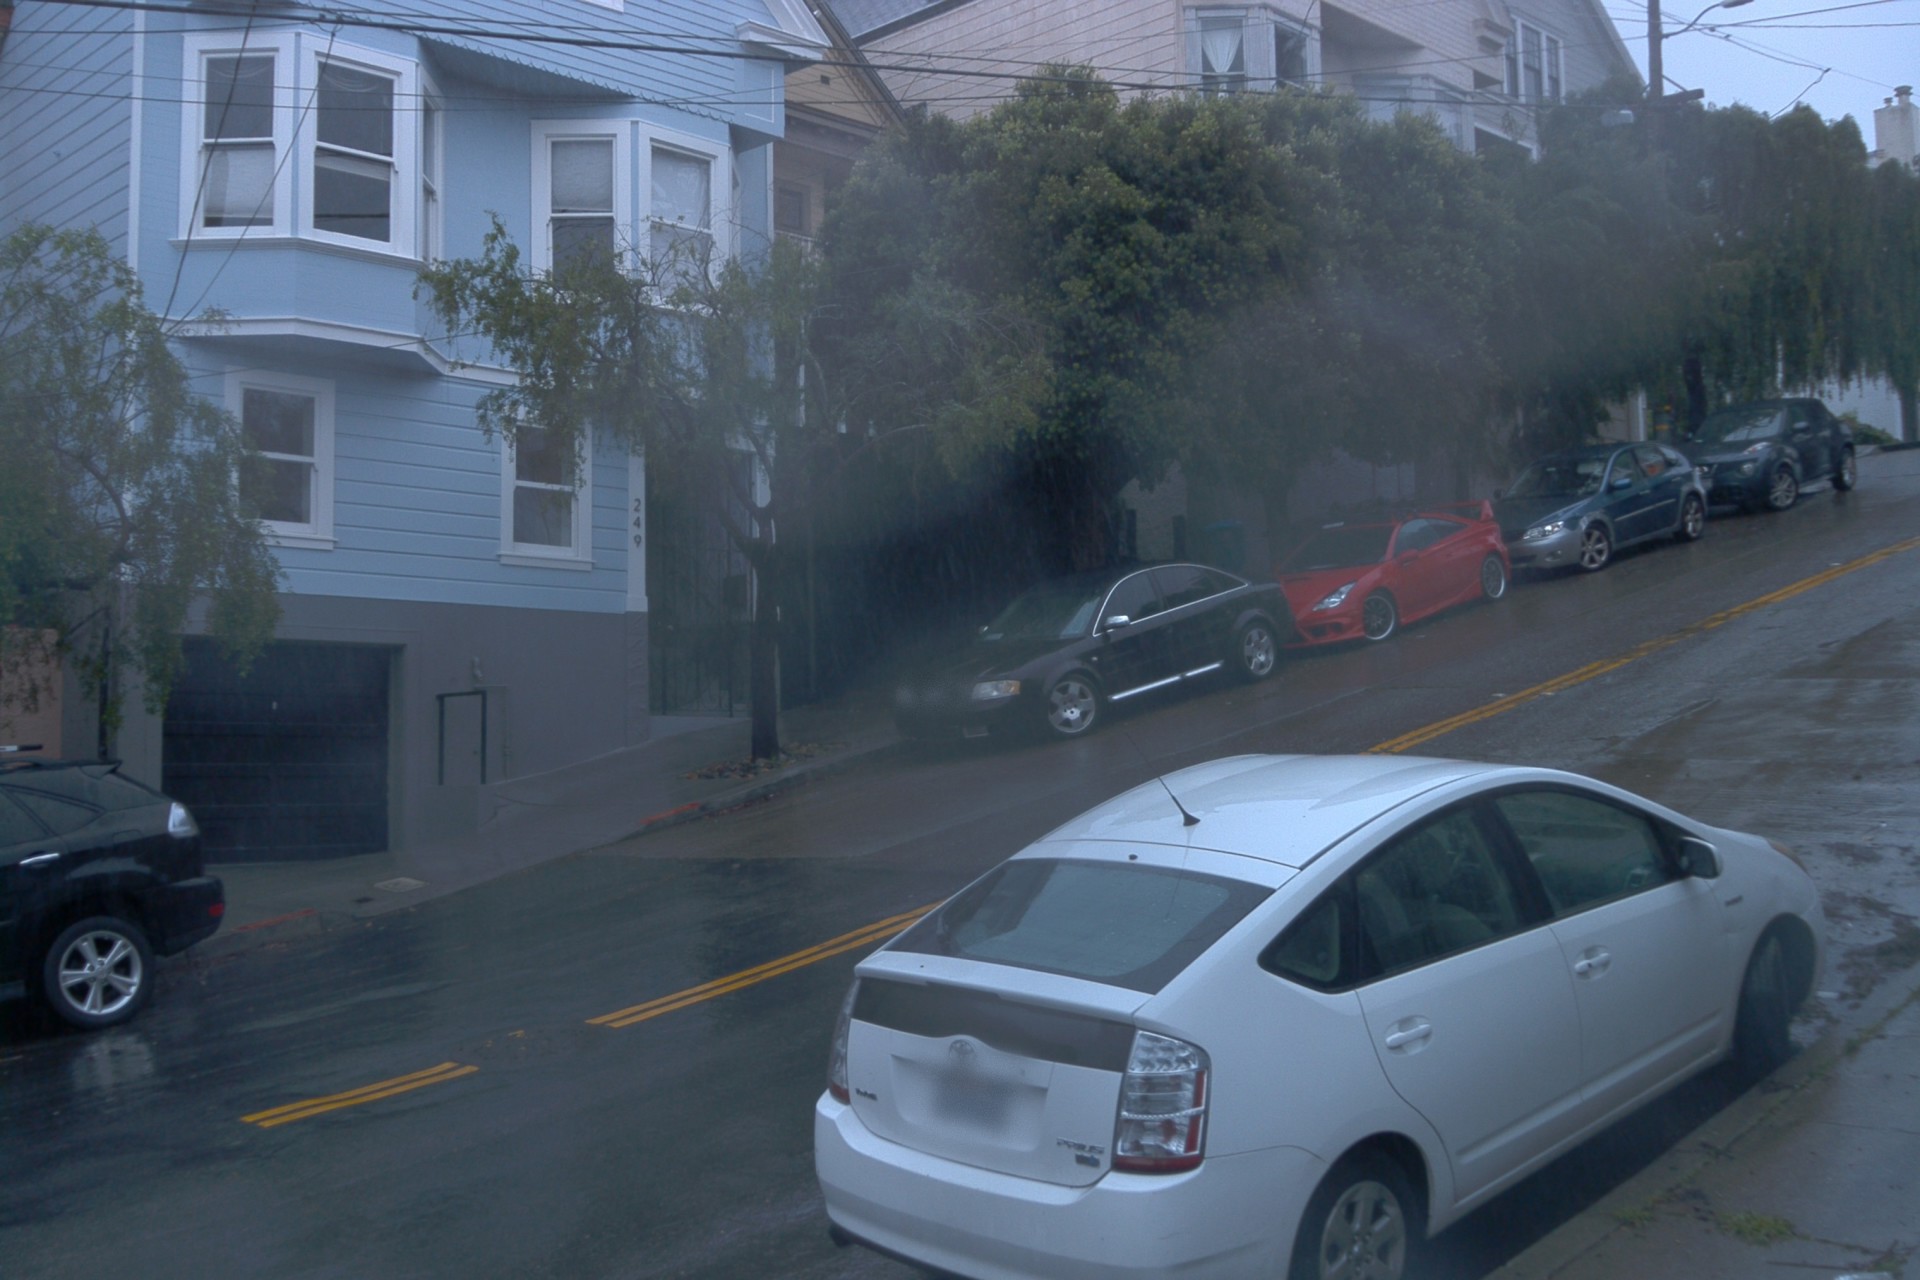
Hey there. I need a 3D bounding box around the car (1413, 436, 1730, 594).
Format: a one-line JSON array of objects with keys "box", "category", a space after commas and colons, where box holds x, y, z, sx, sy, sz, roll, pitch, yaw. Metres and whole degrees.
[{"box": [8.138, -1.553, 27.080, 1.981, 1.800, 4.754, 1, 0, 45], "category": "car"}]

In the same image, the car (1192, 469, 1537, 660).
[{"box": [4.704, -0.793, 23.552, 2.006, 1.990, 4.048, 1, 0, 44], "category": "car"}]

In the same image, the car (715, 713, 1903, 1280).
[{"box": [1.444, 1.263, 7.318, 4.193, 1.850, 2.044, 0, 0, -43], "category": "car"}]

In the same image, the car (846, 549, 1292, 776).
[{"box": [1.146, 0.196, 20.022, 4.206, 1.970, 2.031, 0, 0, -45], "category": "car"}]
